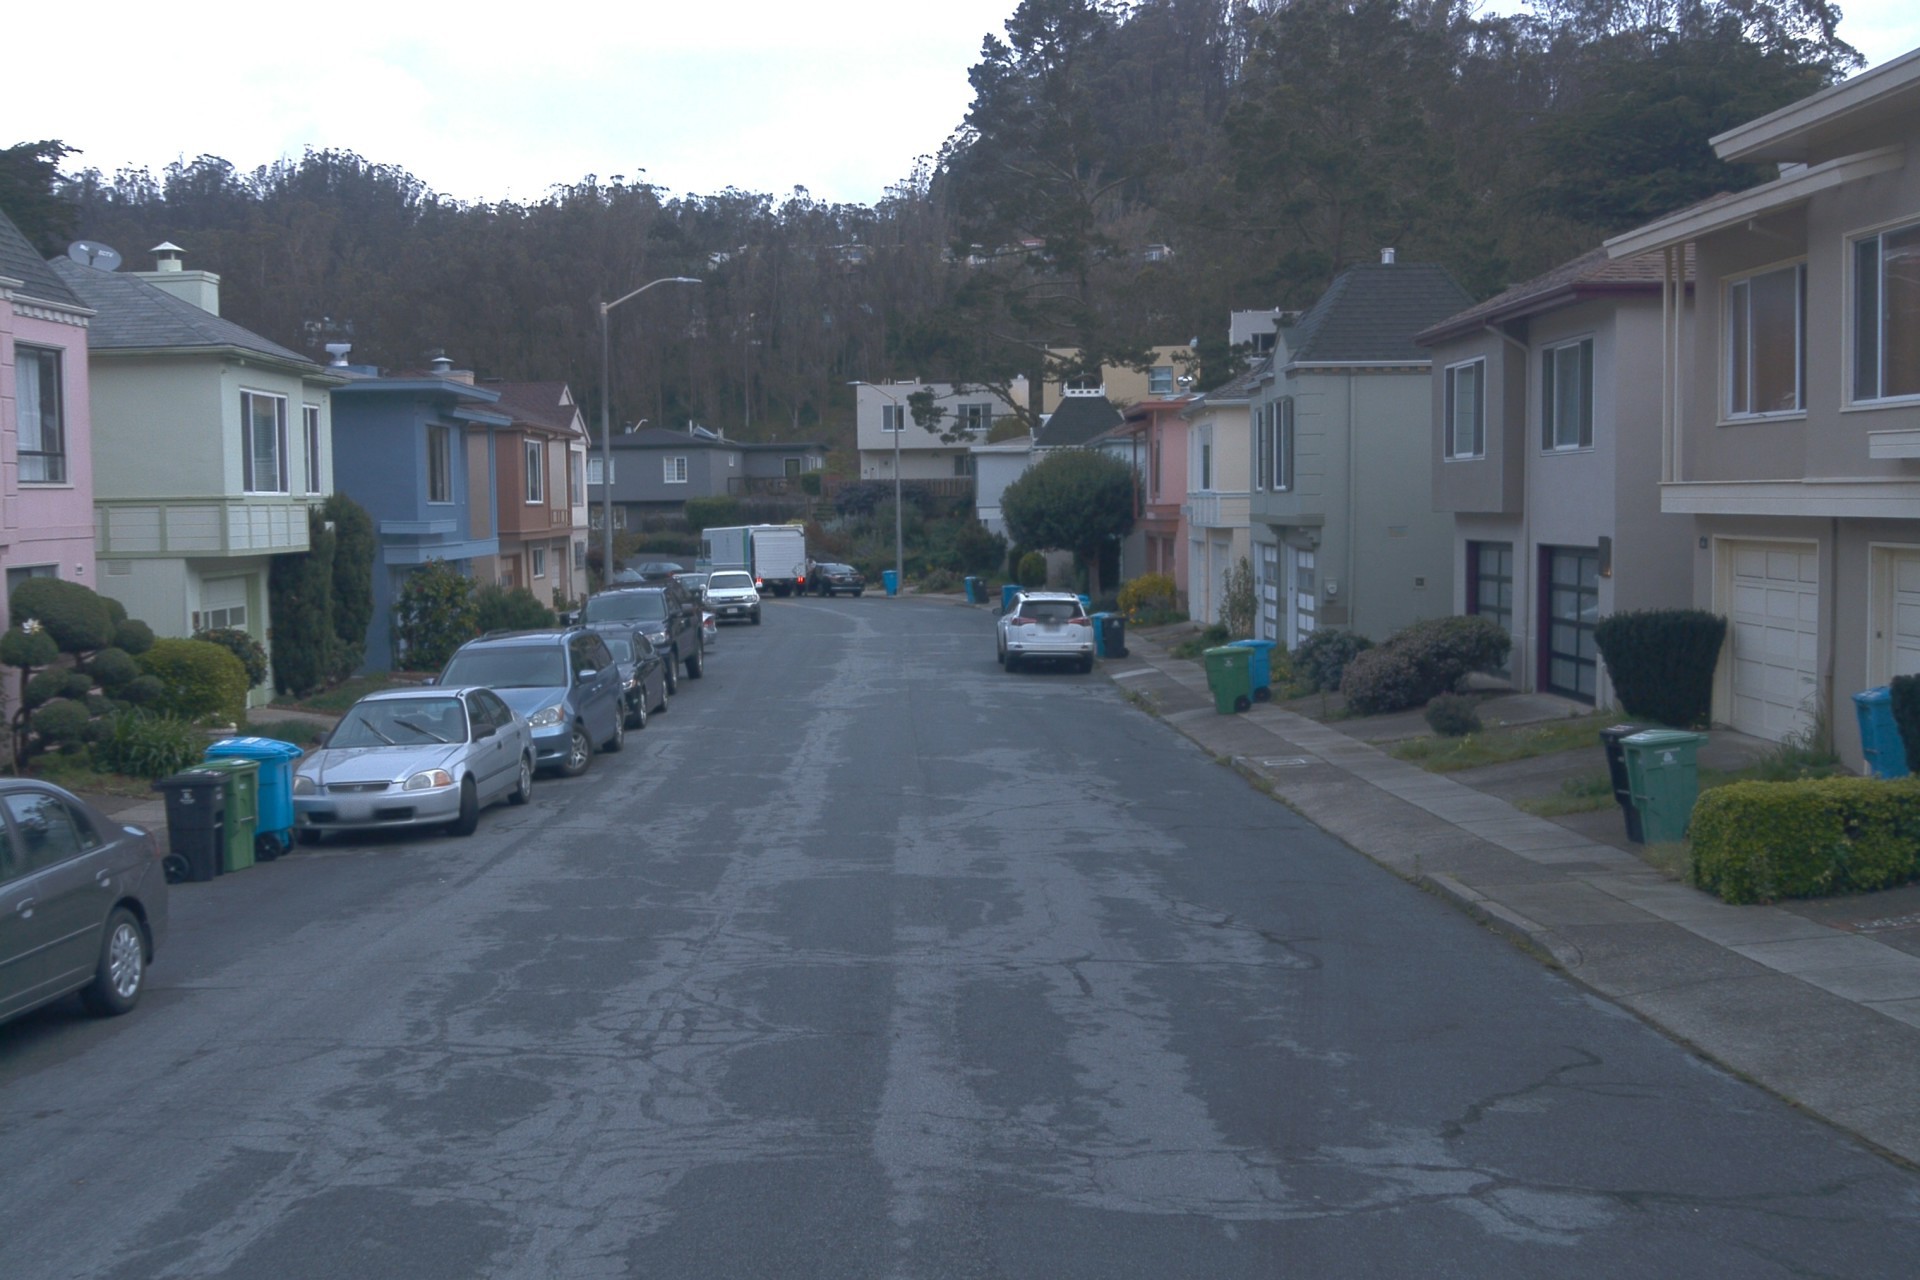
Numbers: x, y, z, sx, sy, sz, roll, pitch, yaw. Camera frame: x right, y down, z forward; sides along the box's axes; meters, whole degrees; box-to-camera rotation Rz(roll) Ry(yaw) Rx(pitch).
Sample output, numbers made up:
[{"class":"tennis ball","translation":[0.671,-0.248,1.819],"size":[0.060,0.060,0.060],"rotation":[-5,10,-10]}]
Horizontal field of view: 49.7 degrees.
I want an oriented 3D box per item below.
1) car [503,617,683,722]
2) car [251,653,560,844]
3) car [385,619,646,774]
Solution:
[{"class":"car","translation":[-5.727,0.446,32.942],"size":[2.188,1.550,4.842],"rotation":[0,0,-2]},{"class":"car","translation":[-5.456,0.999,21.006],"size":[1.915,1.720,4.446],"rotation":[0,0,1]},{"class":"car","translation":[-5.576,0.672,26.730],"size":[2.241,1.811,5.075],"rotation":[0,0,1]}]
